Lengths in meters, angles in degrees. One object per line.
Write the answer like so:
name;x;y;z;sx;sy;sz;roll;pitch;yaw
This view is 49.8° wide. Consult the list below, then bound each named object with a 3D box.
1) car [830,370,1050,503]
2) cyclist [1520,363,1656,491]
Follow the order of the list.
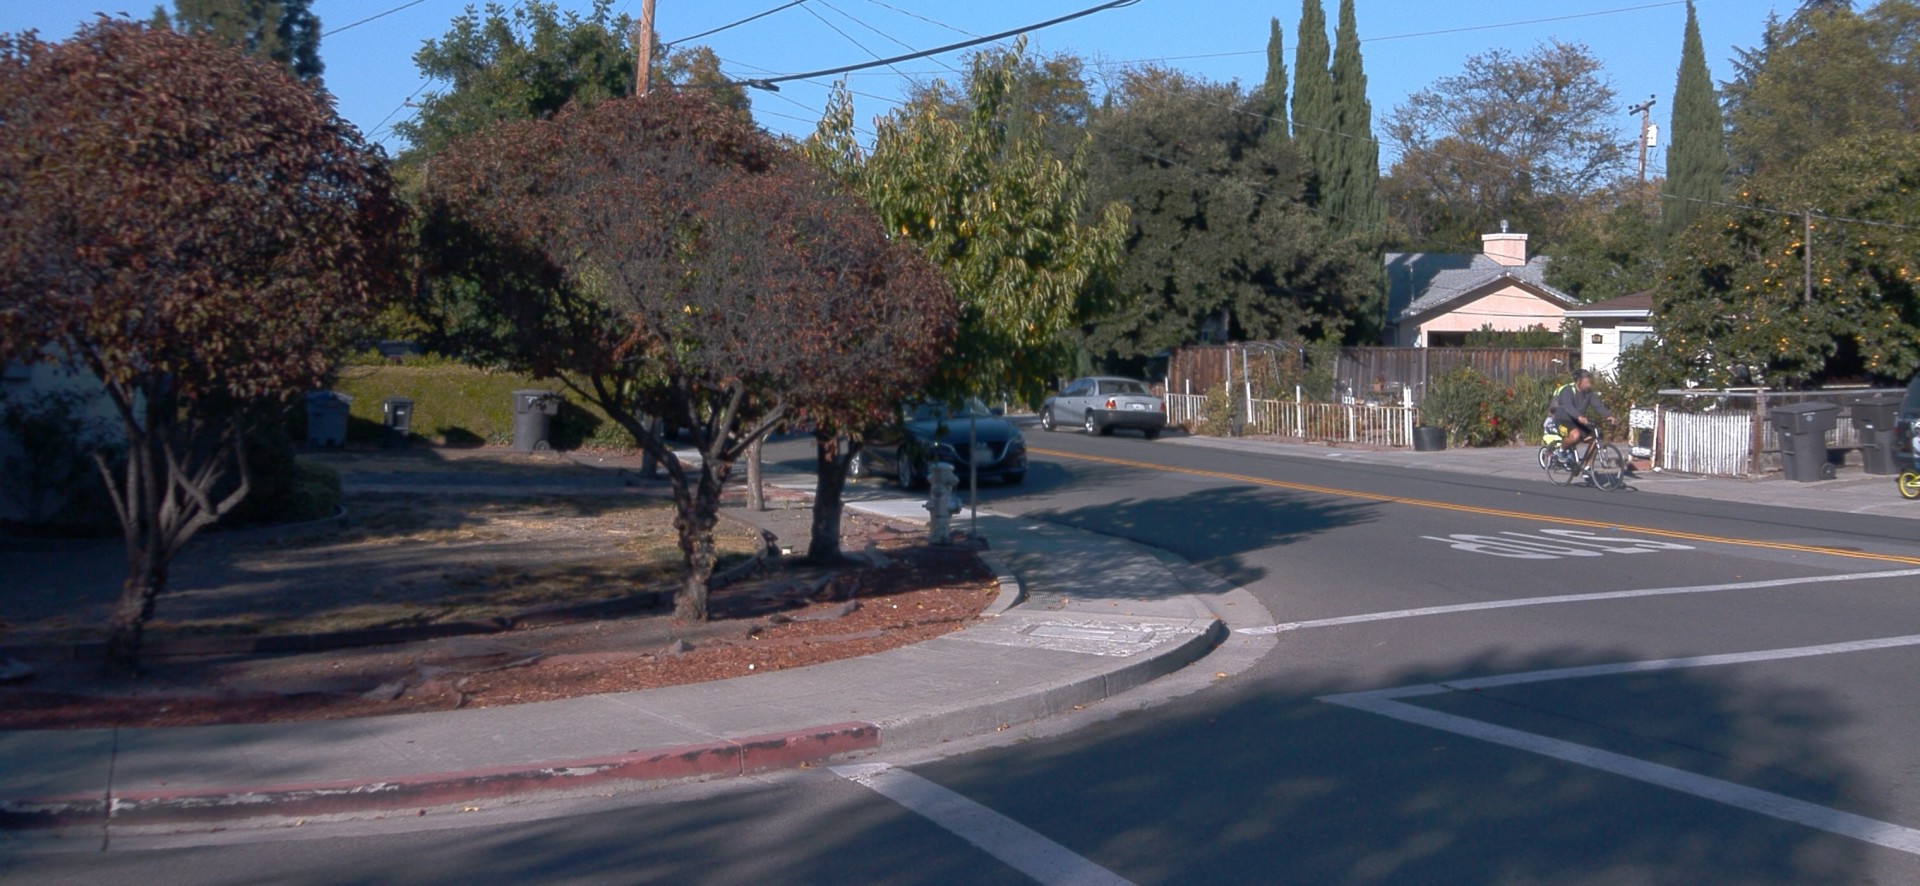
car;-0.409;-0.183;31.680;2.032;1.554;4.626;-1;5;-19
cyclist;9.108;-0.264;30.060;0.824;1.664;1.958;0;4;-23
